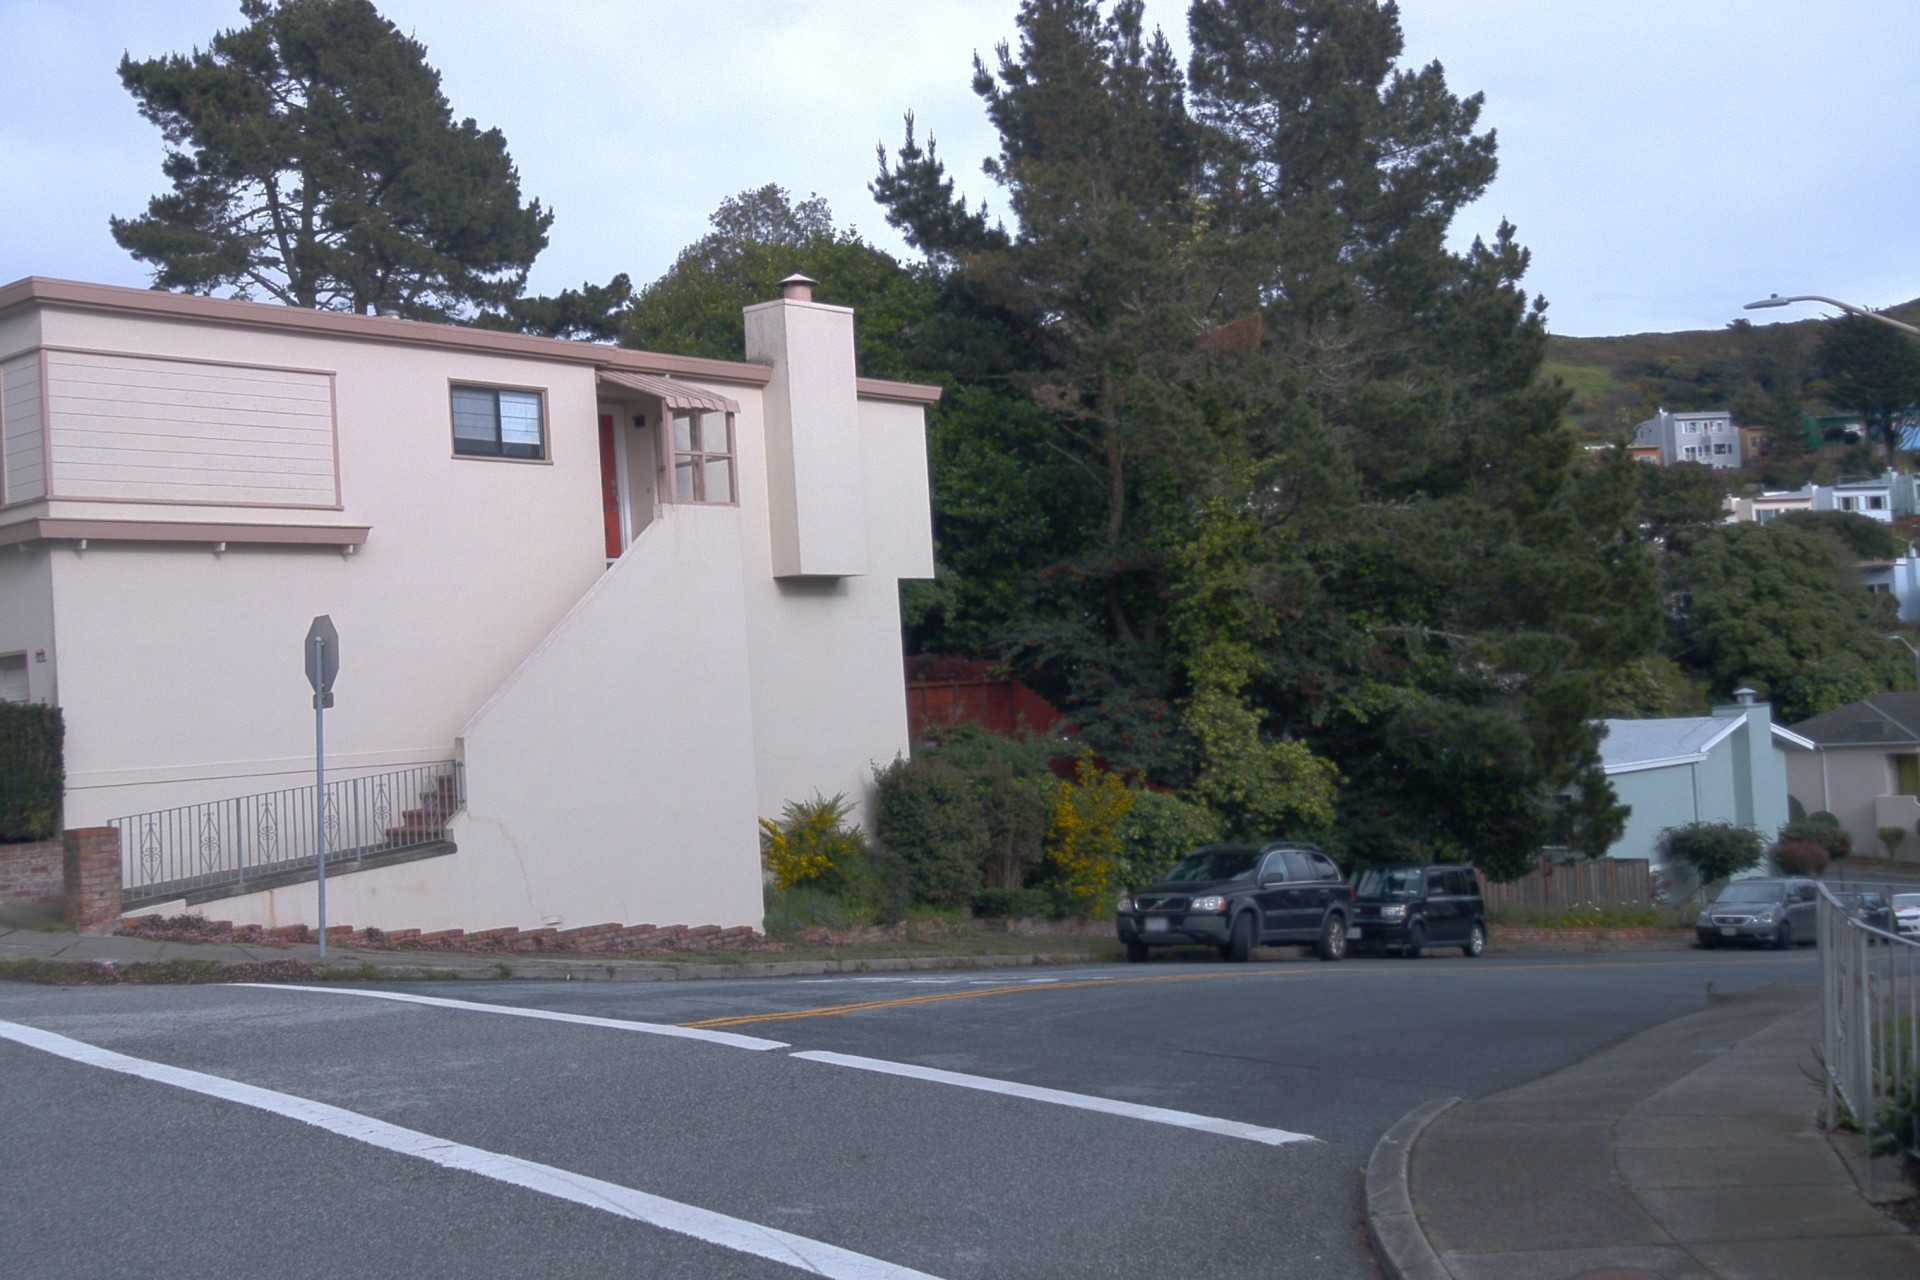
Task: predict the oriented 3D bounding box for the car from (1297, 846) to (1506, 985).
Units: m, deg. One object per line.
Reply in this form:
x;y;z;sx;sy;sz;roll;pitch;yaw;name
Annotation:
7.602;4.632;35.811;1.967;1.820;4.165;1;0;36;car

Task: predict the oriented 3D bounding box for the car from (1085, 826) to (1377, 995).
4.090;3.880;30.859;2.167;1.830;5.004;0;0;35;car
